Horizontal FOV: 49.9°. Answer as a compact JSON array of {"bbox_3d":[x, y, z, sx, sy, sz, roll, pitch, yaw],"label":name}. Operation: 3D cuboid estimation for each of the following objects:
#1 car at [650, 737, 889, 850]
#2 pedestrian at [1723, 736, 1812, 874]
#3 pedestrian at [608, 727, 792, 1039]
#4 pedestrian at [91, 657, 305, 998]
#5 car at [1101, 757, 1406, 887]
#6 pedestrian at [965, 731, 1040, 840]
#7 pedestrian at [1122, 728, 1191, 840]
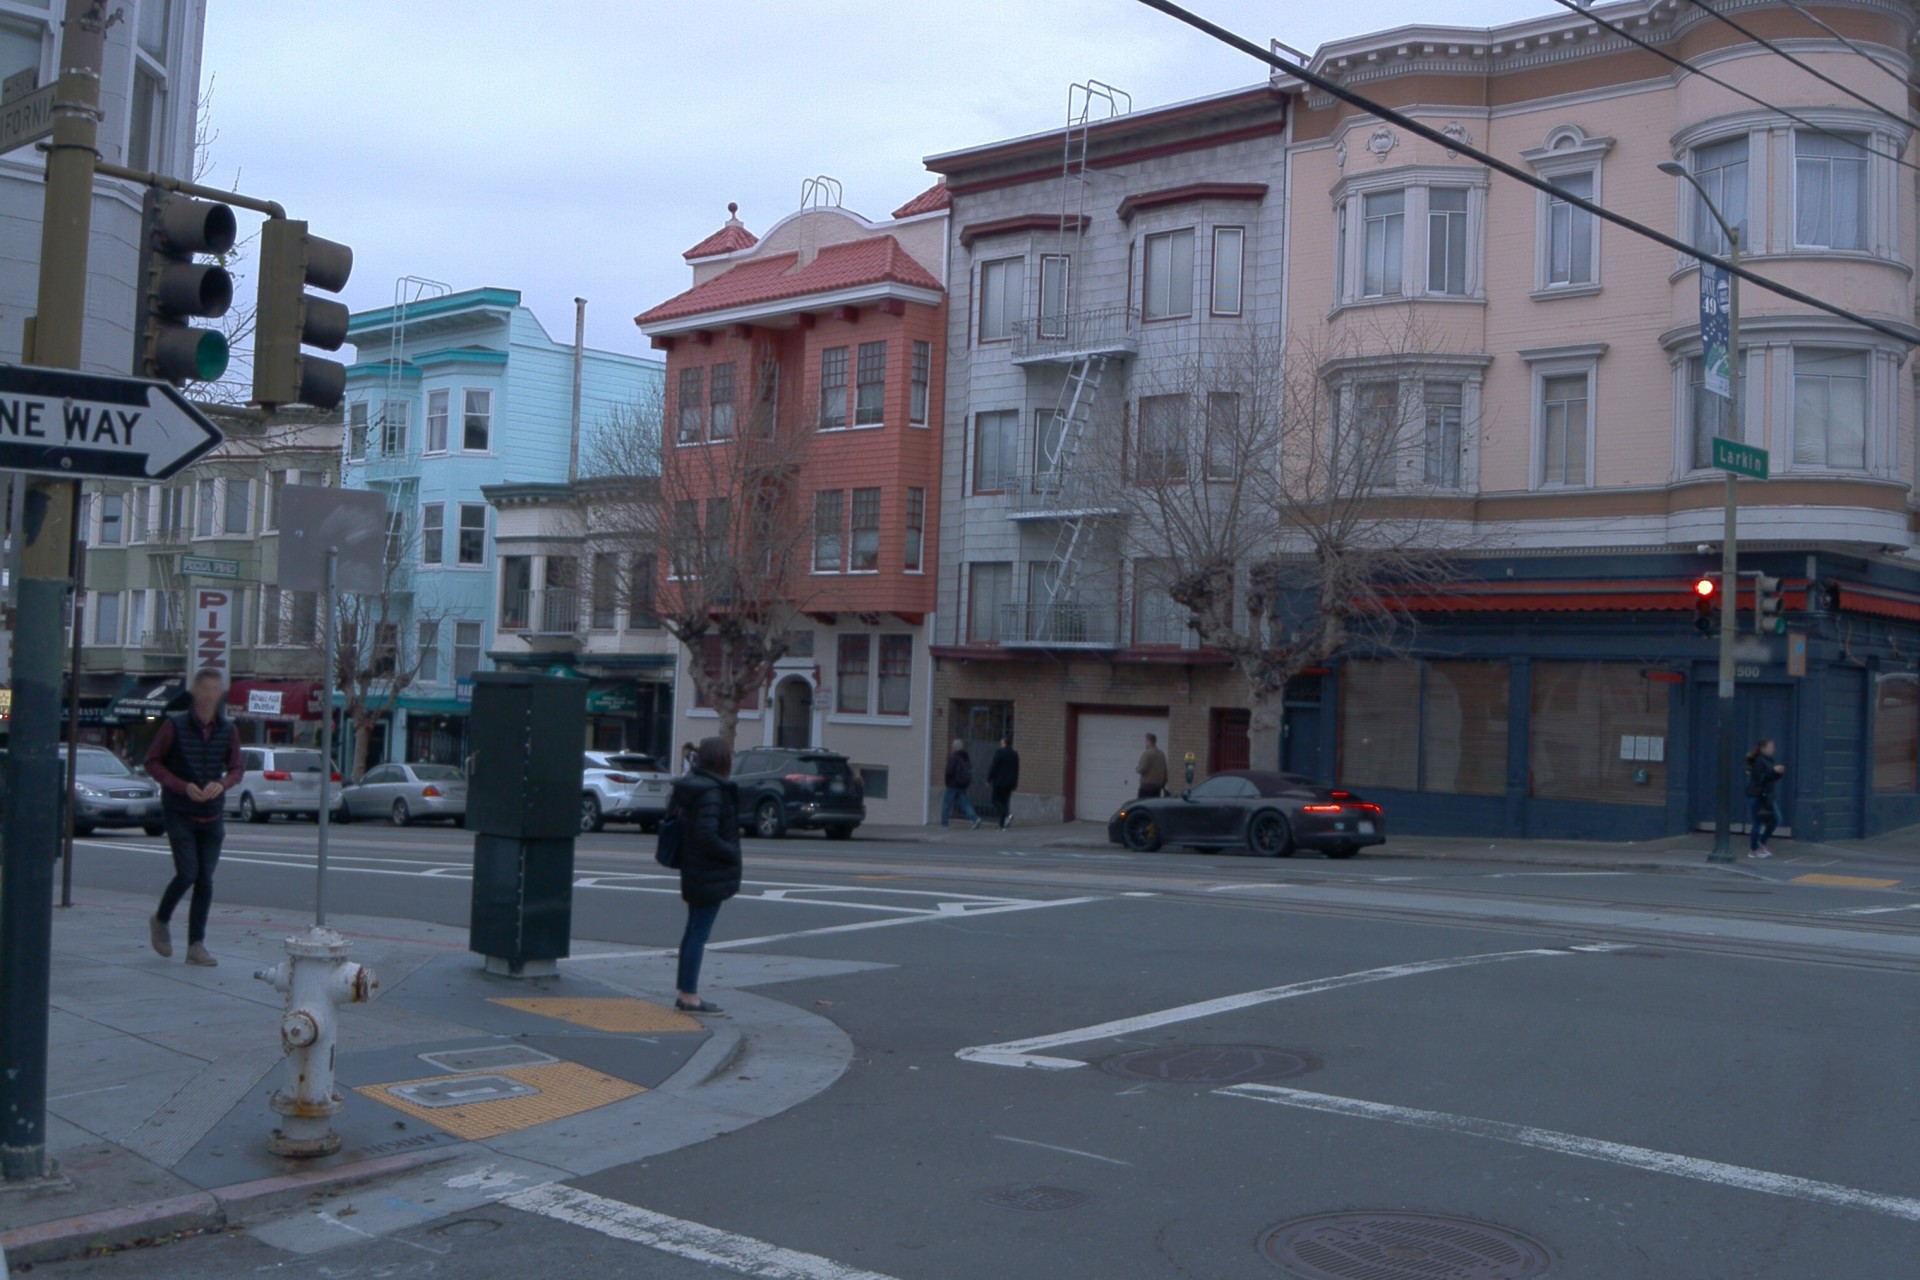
[{"bbox_3d":[-3.623,2.831,38.769,4.423,1.700,2.100,1,1,44],"label":"car"},{"bbox_3d":[11.221,2.270,28.683,0.938,1.800,0.779,1,1,40],"label":"pedestrian"},{"bbox_3d":[-1.533,1.393,12.149,0.846,1.692,0.707,-1,1,-33],"label":"pedestrian"},{"bbox_3d":[-4.658,1.082,12.591,0.804,1.922,1.262,-1,1,-42],"label":"pedestrian"},{"bbox_3d":[4.281,2.627,30.588,1.947,1.460,4.186,-1,1,-43],"label":"car"},{"bbox_3d":[0.801,2.713,38.667,0.903,1.913,1.080,-1,1,-44],"label":"pedestrian"},{"bbox_3d":[3.522,2.560,36.949,0.789,1.900,0.946,-1,1,-43],"label":"pedestrian"}]
